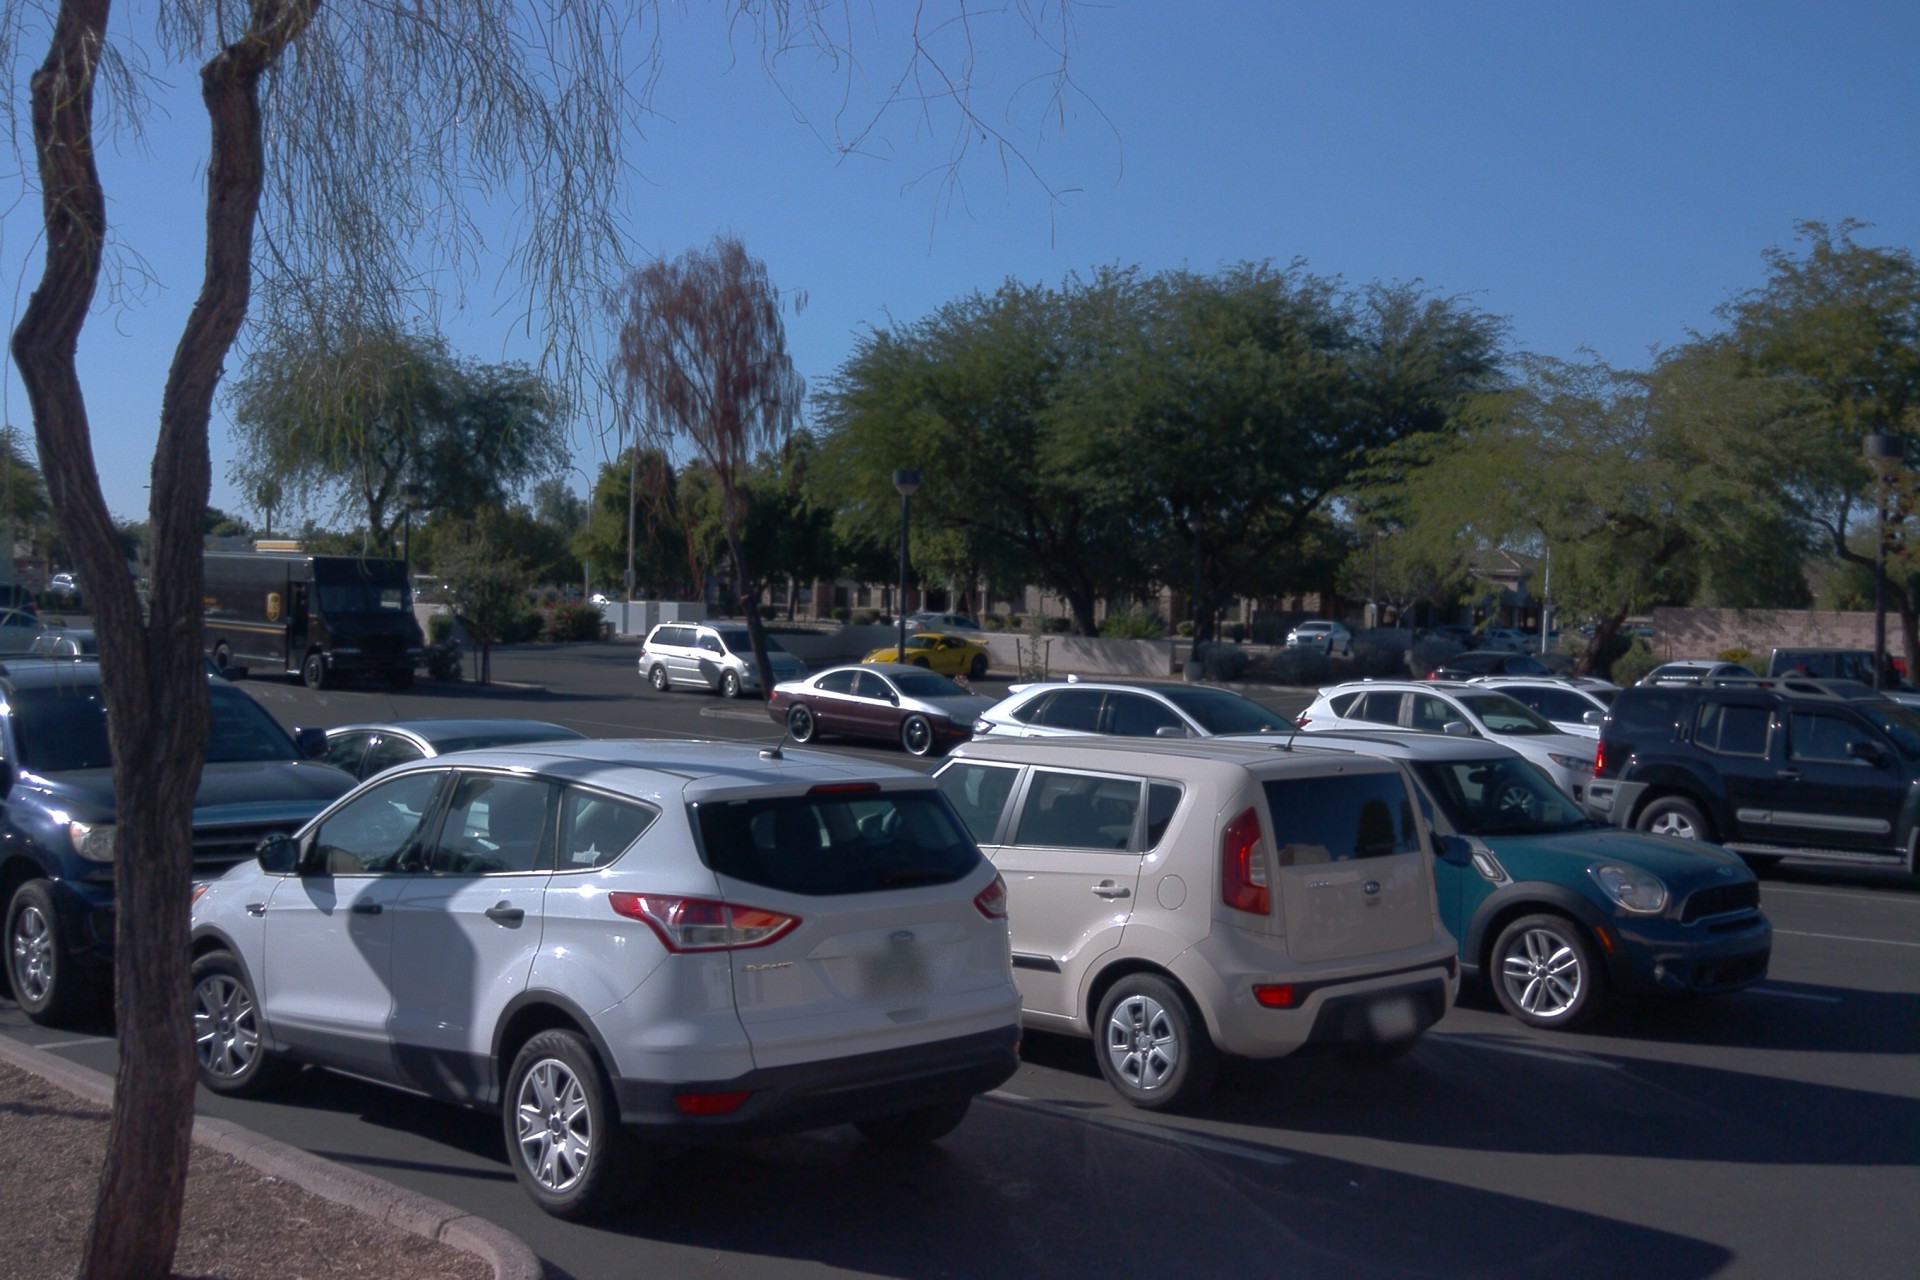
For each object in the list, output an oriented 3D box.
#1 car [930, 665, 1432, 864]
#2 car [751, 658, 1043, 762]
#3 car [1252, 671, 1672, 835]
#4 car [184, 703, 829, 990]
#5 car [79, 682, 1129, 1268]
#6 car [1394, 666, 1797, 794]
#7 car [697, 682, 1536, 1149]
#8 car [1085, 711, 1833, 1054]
[{"bbox_3d":[2.164,1.156,21.180,4.659,1.720,2.253,1,0,43],"label":"car"},{"bbox_3d":[-1.160,1.156,35.902,5.046,1.600,2.114,1,0,44],"label":"car"},{"bbox_3d":[5.992,1.273,25.088,4.434,1.720,2.160,1,0,45],"label":"car"},{"bbox_3d":[-3.352,1.298,14.742,4.717,1.550,2.178,1,0,44],"label":"car"},{"bbox_3d":[-1.756,1.115,8.992,4.652,1.760,2.103,1,0,44],"label":"car"},{"bbox_3d":[8.308,1.120,27.424,4.663,1.460,2.057,1,0,45],"label":"car"},{"bbox_3d":[0.666,1.187,10.751,2.035,1.840,3.966,1,0,-44],"label":"car"},{"bbox_3d":[2.931,1.312,12.724,2.003,1.600,3.979,1,0,-45],"label":"car"}]
